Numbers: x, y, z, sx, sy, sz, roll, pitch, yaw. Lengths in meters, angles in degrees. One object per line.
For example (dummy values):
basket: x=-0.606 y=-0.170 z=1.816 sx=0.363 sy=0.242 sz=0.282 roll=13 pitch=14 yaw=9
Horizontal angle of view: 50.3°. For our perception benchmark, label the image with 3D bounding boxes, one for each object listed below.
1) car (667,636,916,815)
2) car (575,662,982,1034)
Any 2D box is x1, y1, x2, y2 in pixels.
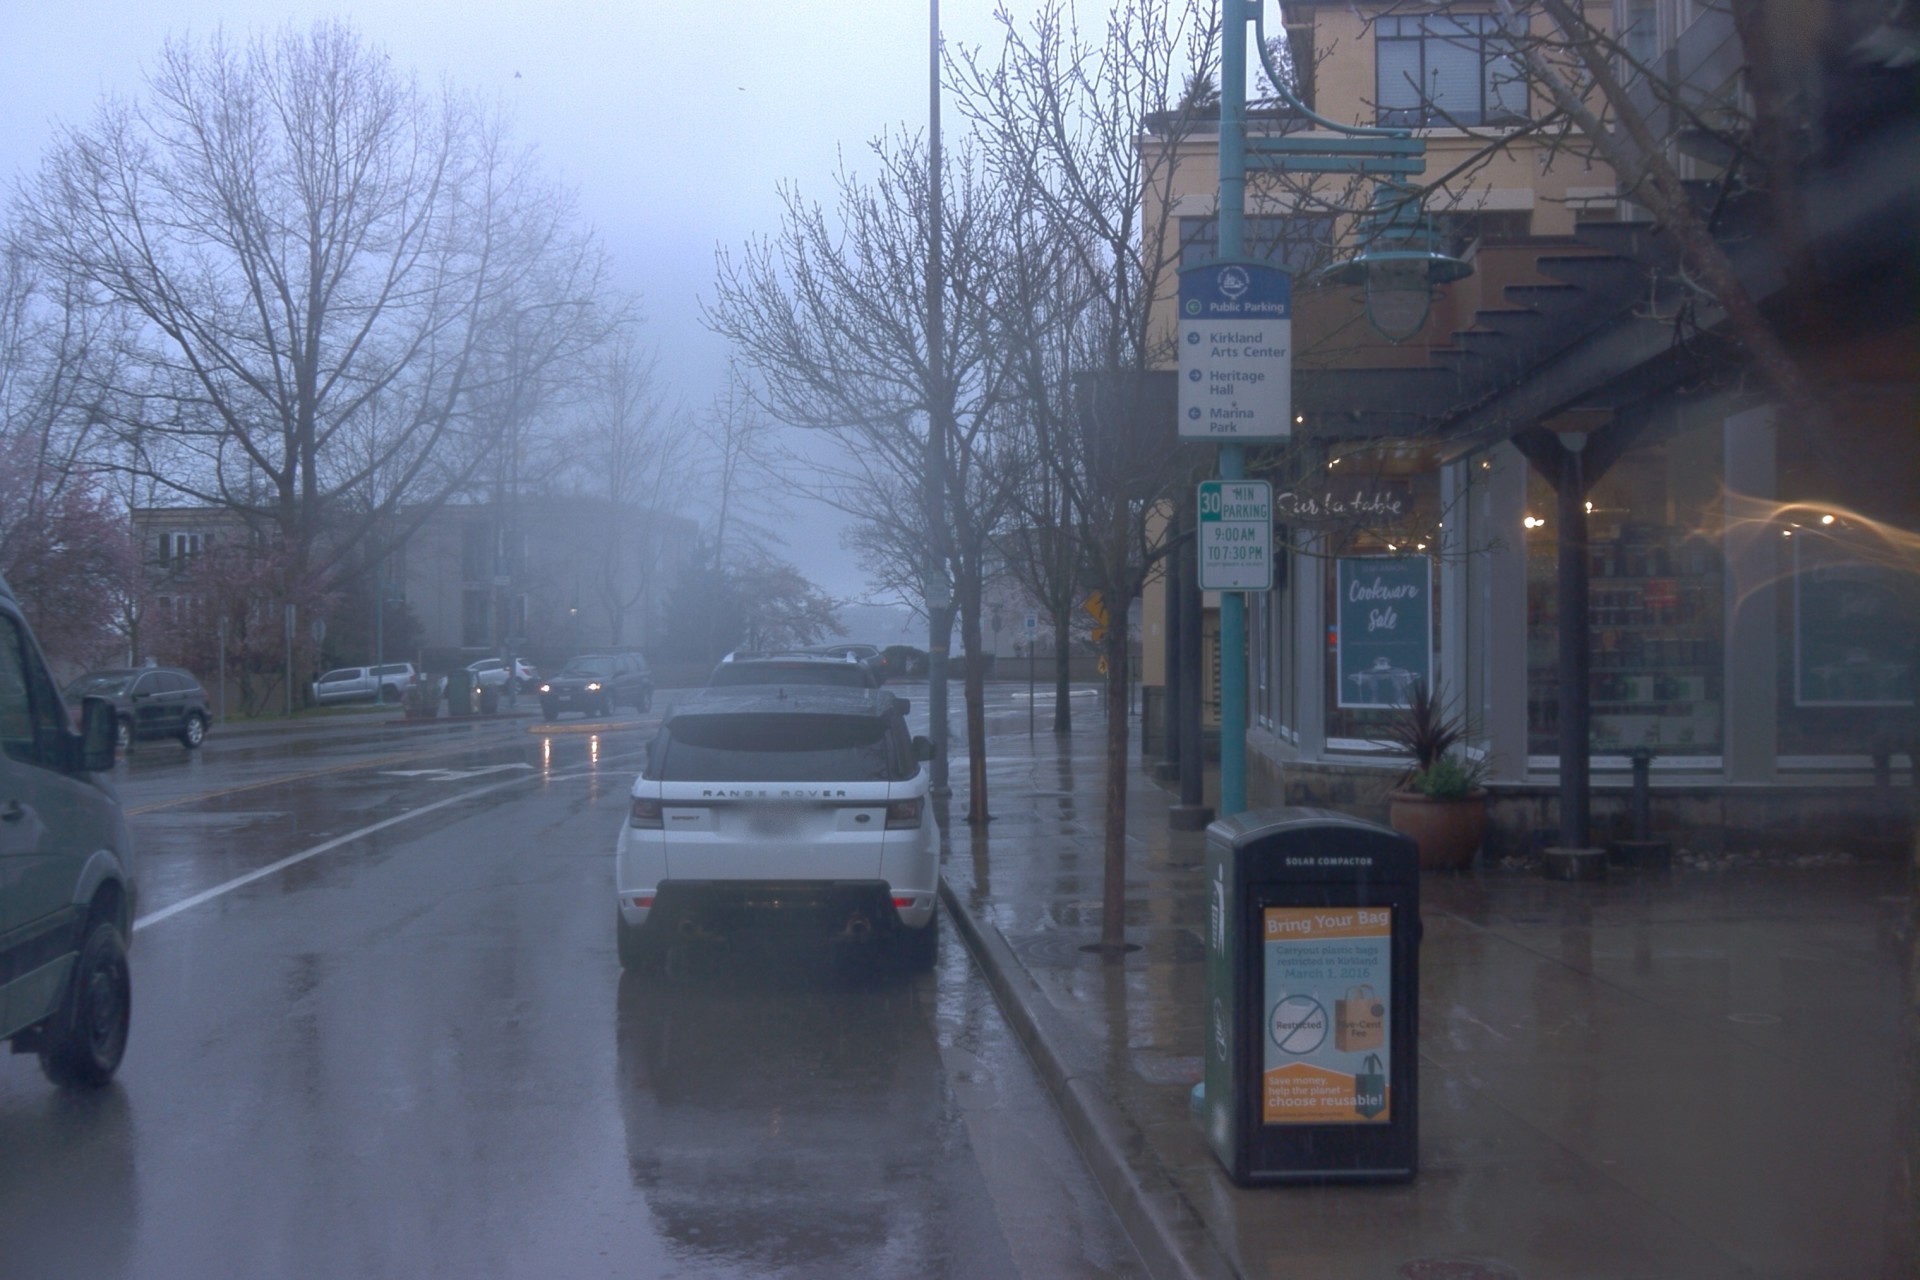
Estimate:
car: x=-1.736 y=0.772 z=20.973 sx=2.210 sy=1.560 sz=5.097 roll=1 pitch=0 yaw=-5
car: x=-1.240 y=1.215 z=14.153 sx=2.265 sy=2.000 sz=5.124 roll=1 pitch=0 yaw=-5
